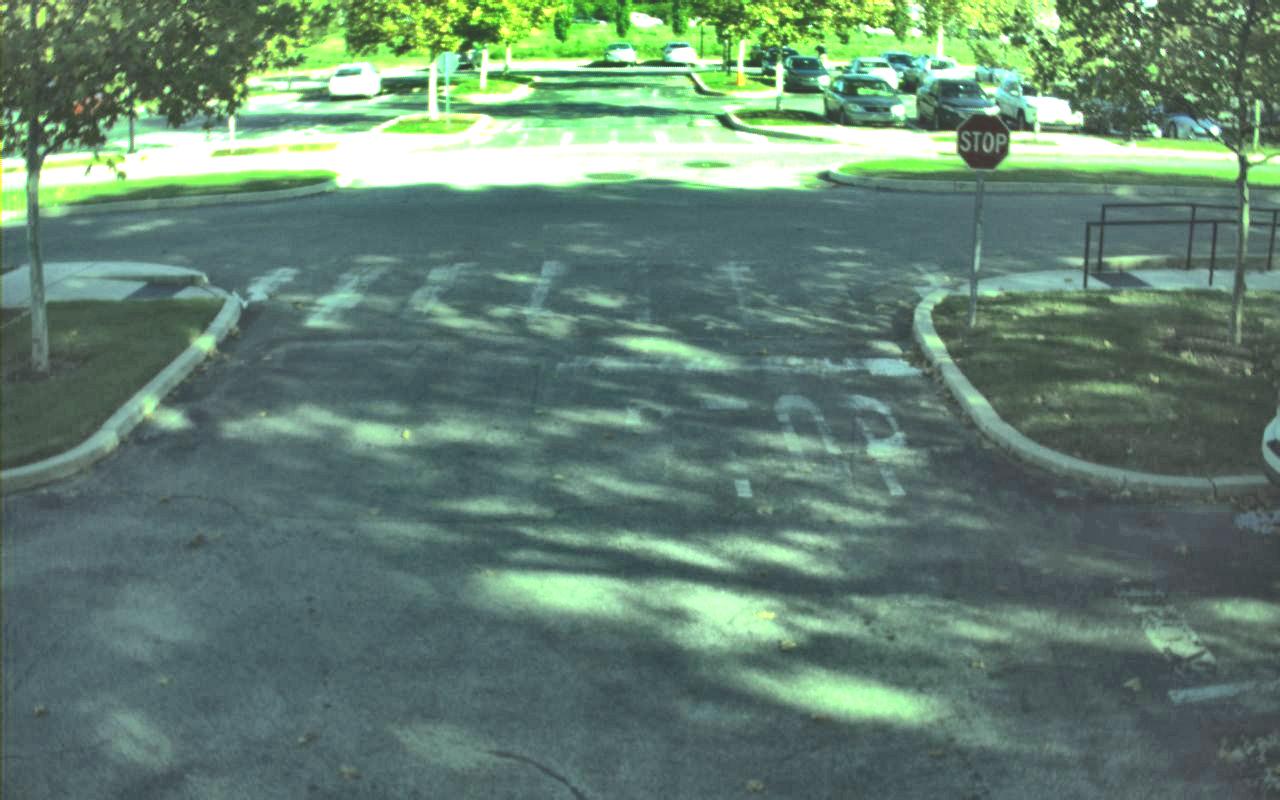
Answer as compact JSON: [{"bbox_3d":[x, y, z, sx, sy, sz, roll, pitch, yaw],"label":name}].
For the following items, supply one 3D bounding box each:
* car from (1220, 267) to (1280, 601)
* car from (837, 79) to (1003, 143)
[{"bbox_3d":[6.553,0.136,7.466,4.409,1.648,1.975,0,16,4],"label":"car"},{"bbox_3d":[8.059,-8.331,35.180,4.517,1.645,2.011,-2,16,-3],"label":"car"}]
